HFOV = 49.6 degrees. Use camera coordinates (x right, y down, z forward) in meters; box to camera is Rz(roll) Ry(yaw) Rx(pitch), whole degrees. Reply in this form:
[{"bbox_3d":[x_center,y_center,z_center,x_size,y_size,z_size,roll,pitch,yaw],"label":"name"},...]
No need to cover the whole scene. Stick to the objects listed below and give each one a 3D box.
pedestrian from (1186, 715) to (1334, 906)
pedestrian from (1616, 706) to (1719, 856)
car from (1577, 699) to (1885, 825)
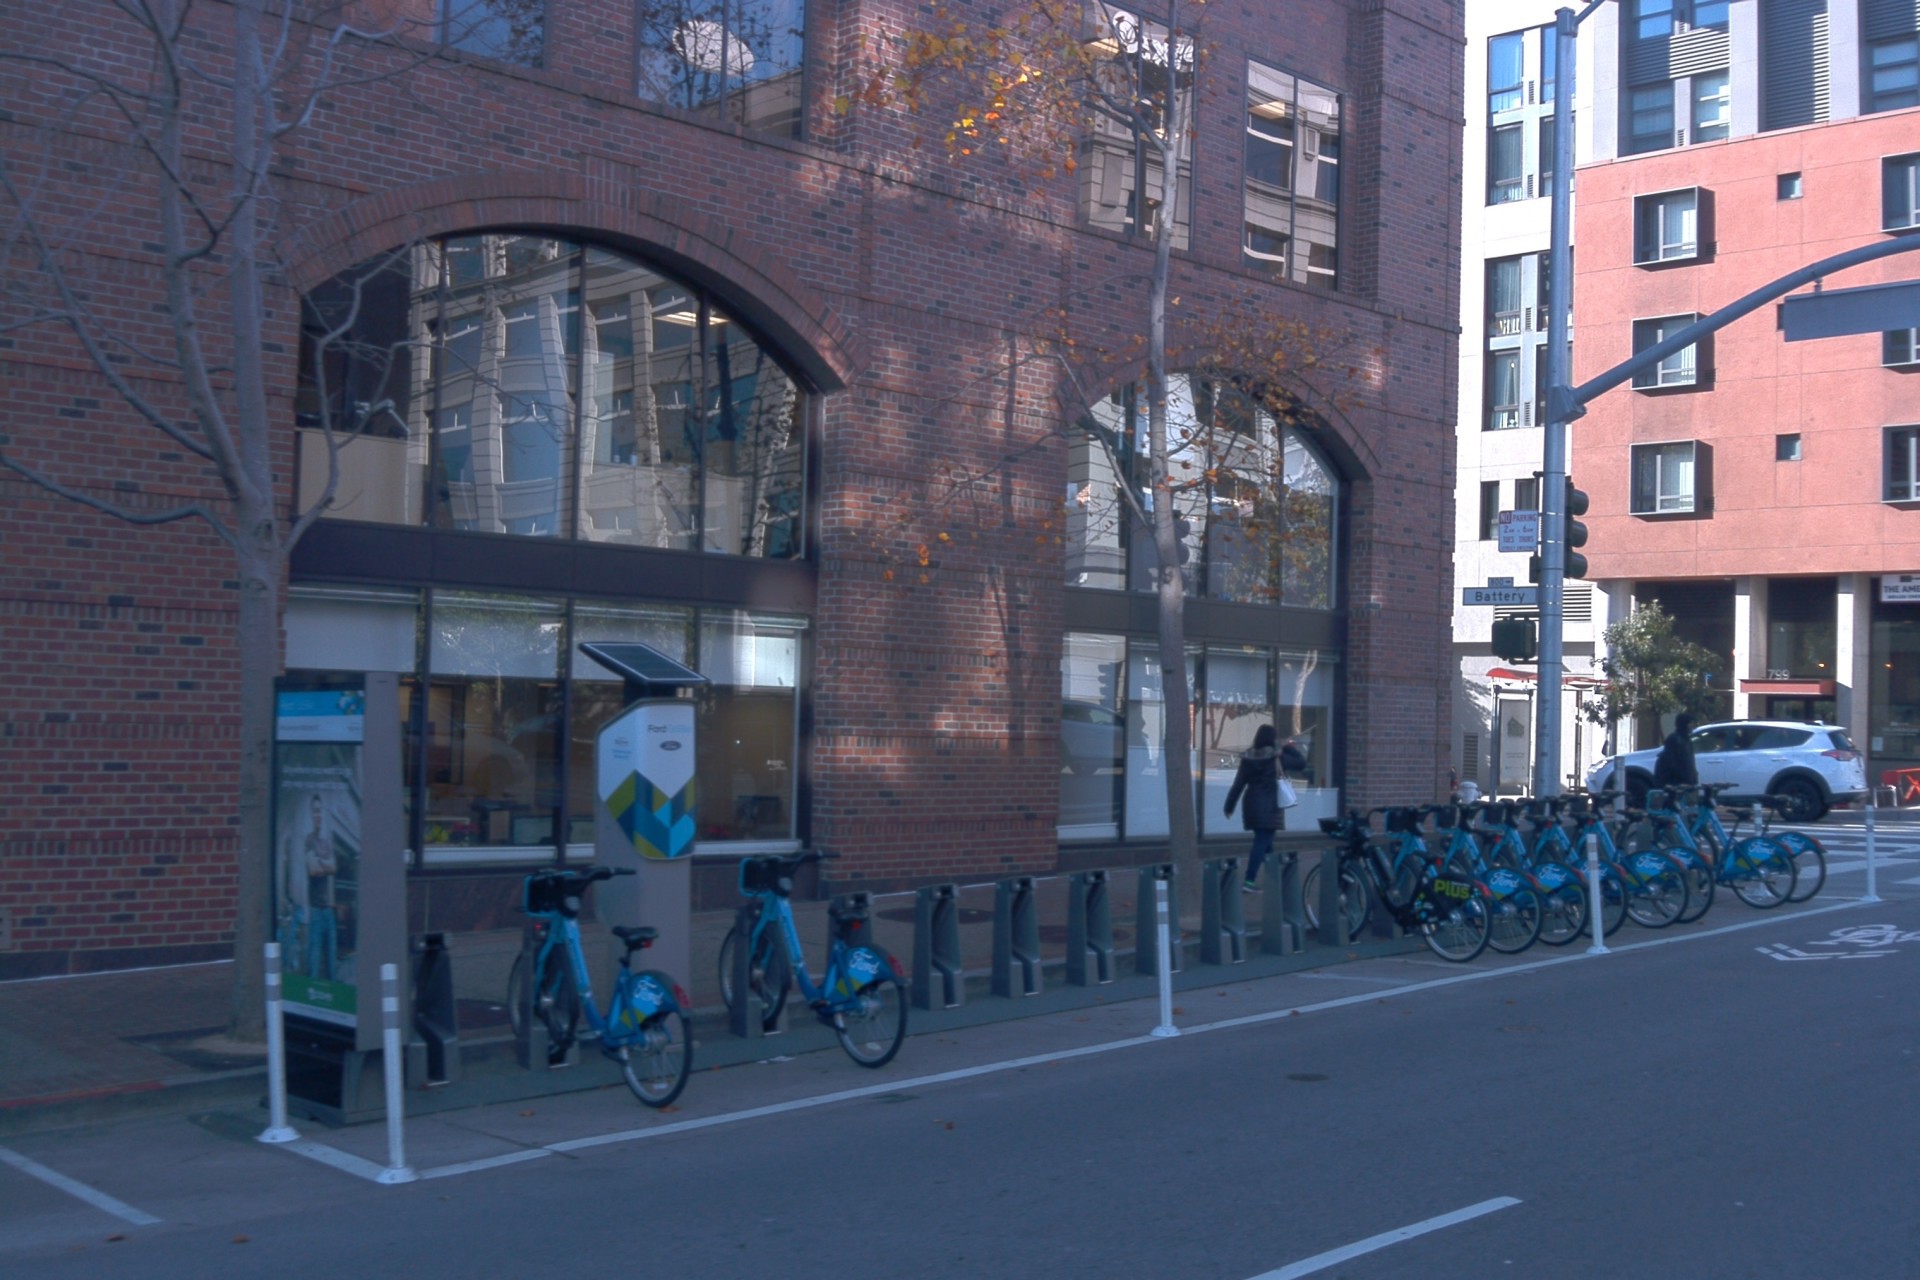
[{"bbox_3d":[2.852,1.585,19.706,0.980,1.710,0.993,0,-1,42],"label":"pedestrian"},{"bbox_3d":[8.458,1.661,24.820,0.885,1.730,0.836,2,-1,-44],"label":"pedestrian"},{"bbox_3d":[12.954,1.995,34.907,4.567,1.880,2.046,0,-1,29],"label":"car"}]
